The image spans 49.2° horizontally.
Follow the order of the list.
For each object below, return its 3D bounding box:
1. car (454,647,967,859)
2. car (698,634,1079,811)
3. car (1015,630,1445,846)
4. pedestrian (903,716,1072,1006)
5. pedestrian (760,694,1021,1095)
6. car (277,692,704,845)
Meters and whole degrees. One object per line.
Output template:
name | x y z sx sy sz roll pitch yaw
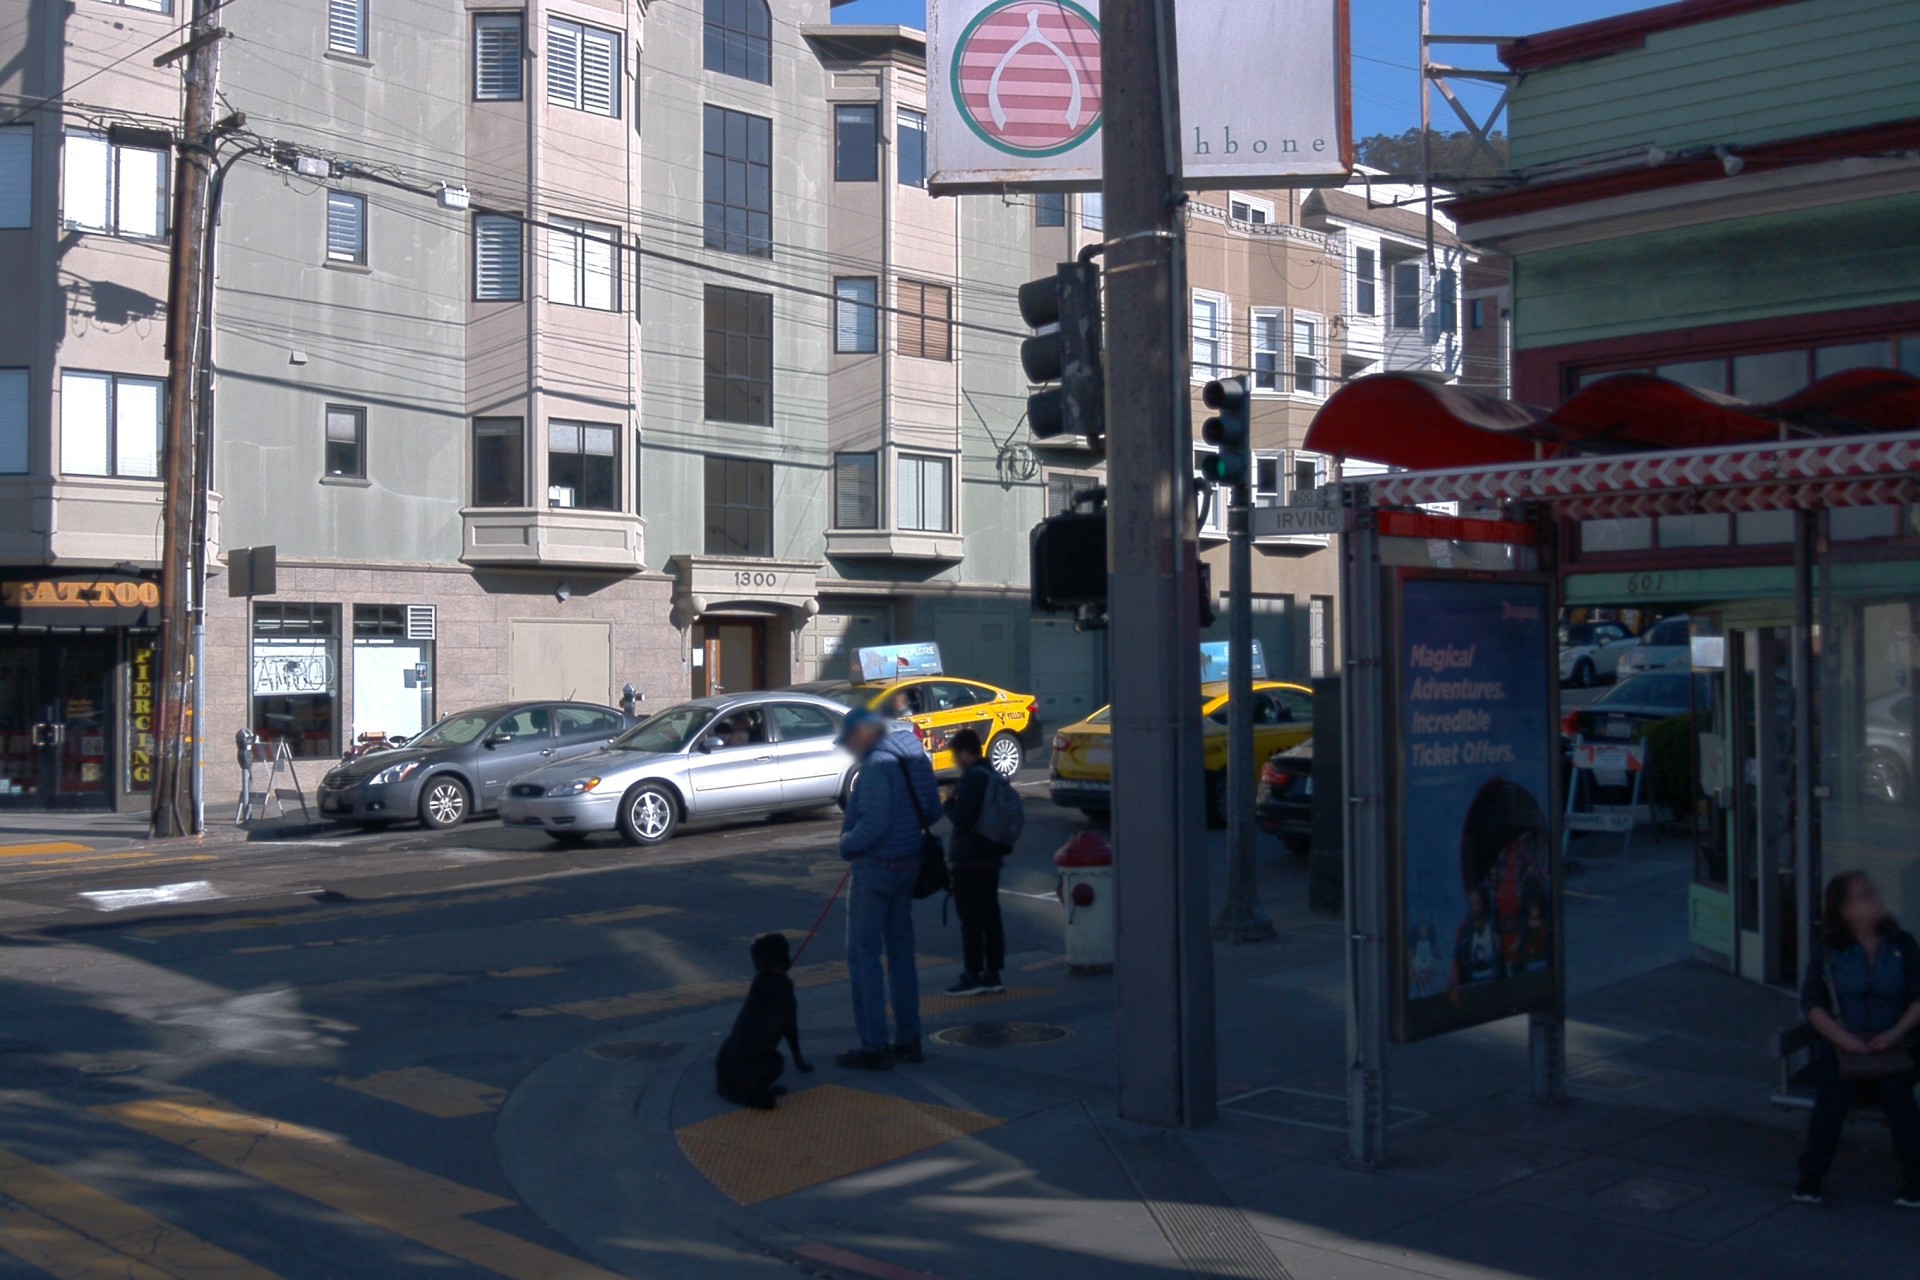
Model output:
car | -2.613 1.118 22.656 5.035 2.030 2.283 1 0 -39
car | -0.847 1.001 27.259 4.772 2.100 2.070 1 0 -44
car | 3.056 0.972 22.856 2.091 2.090 4.992 1 0 43
pedestrian | 0.167 1.343 13.044 0.687 1.700 0.778 0 0 -43
pedestrian | -0.340 1.215 10.523 0.894 1.860 0.955 1 0 37
car | -5.778 1.518 26.271 2.149 1.660 4.833 0 0 44
